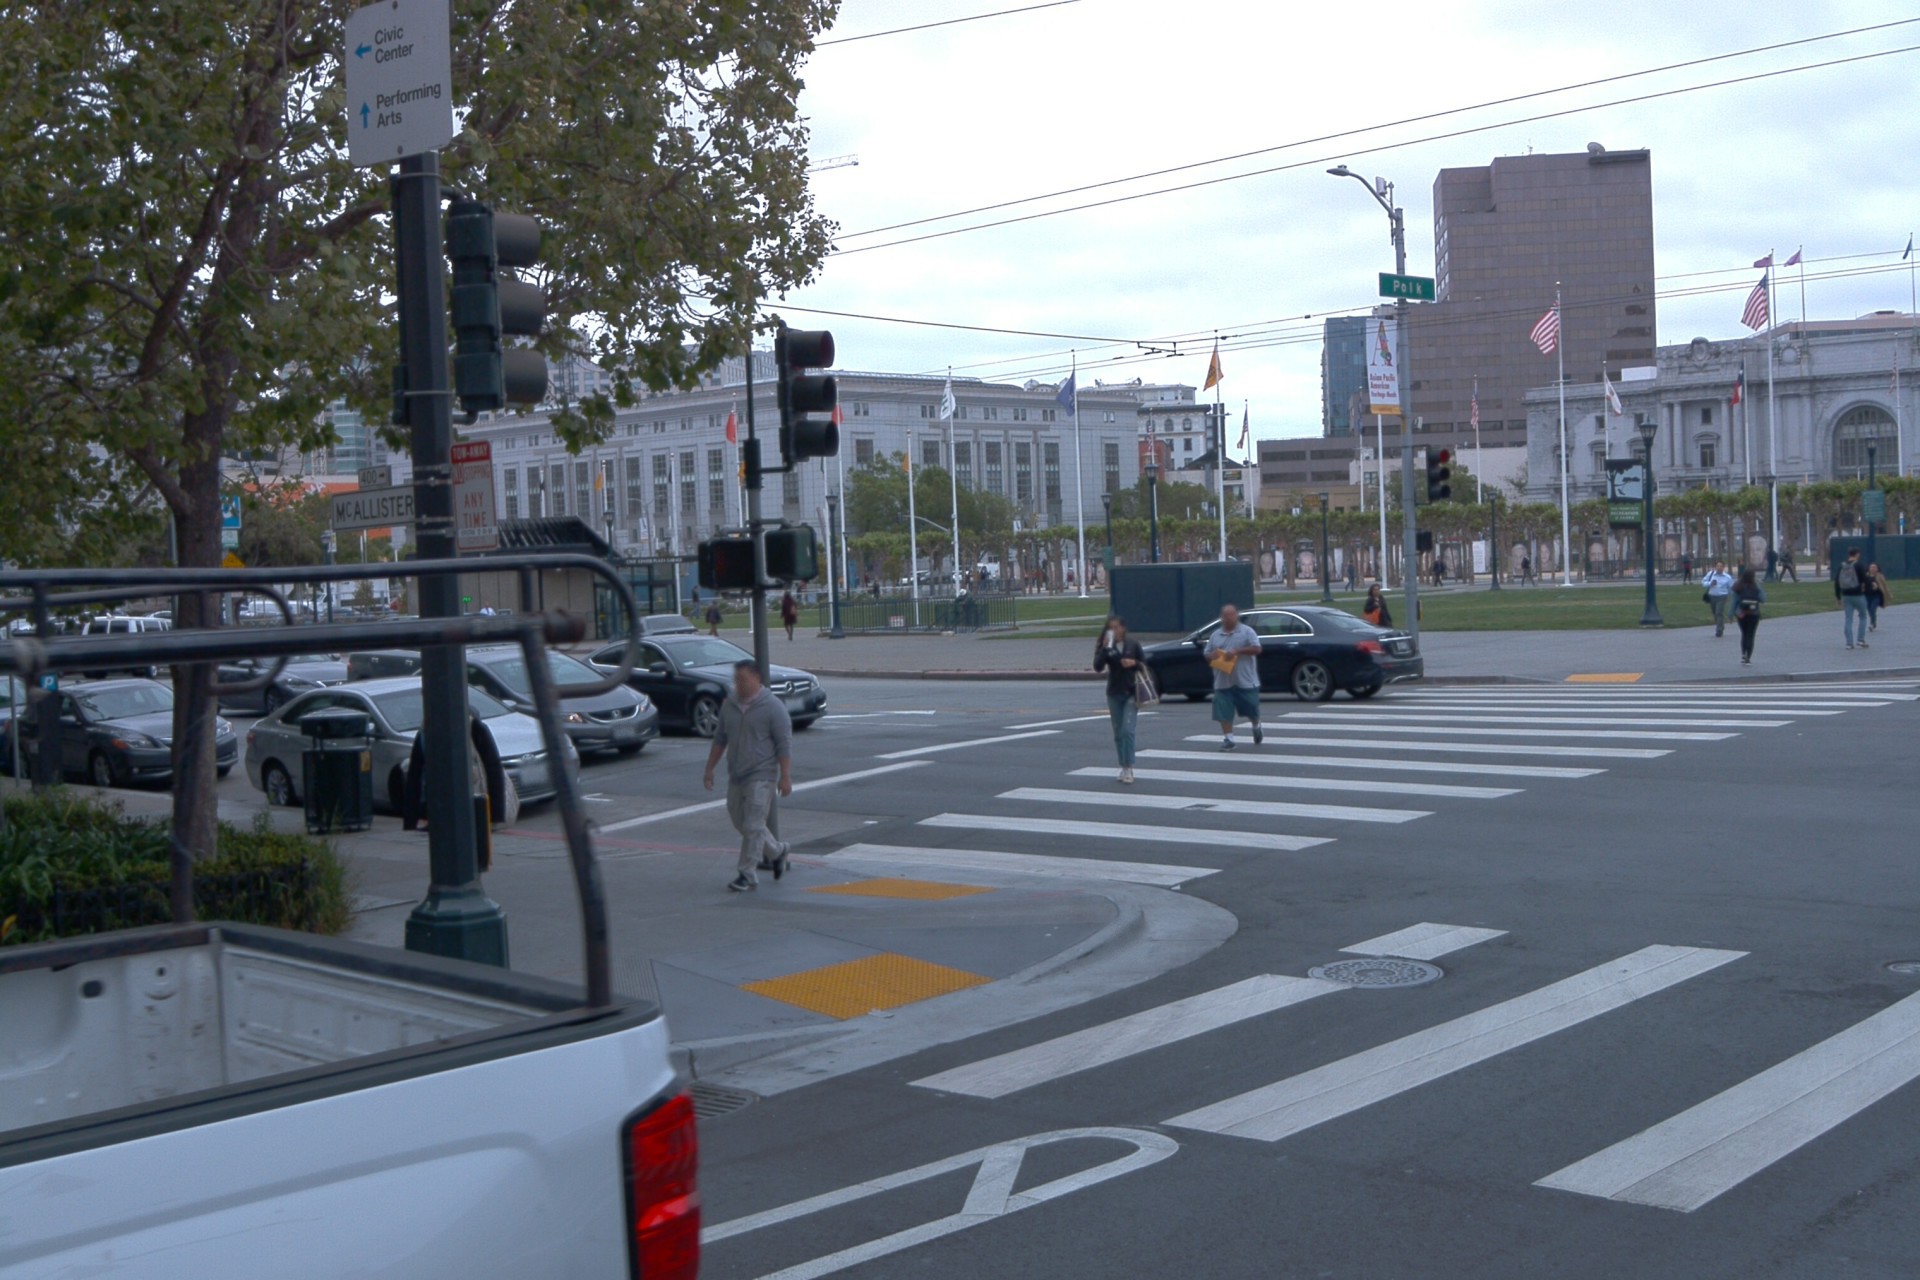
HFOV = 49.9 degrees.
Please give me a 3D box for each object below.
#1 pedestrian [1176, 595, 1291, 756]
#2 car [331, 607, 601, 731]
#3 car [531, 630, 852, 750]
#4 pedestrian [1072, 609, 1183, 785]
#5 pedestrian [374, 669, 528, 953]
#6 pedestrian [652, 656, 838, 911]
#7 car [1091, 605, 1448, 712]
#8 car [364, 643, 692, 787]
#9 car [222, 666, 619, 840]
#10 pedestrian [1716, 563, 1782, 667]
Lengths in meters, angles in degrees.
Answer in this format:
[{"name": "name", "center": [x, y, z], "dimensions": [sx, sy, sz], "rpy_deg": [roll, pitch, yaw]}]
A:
[{"name": "pedestrian", "center": [3.110, 0.378, 23.377], "dimensions": [0.994, 1.764, 1.162], "rpy_deg": [0, 1, 24]}, {"name": "car", "center": [-8.207, 0.407, 34.049], "dimensions": [4.650, 1.900, 2.138], "rpy_deg": [1, 1, 44]}, {"name": "car", "center": [-3.827, 0.638, 29.016], "dimensions": [4.497, 1.490, 2.027], "rpy_deg": [1, 1, 42]}, {"name": "pedestrian", "center": [1.704, 0.549, 20.869], "dimensions": [0.909, 1.724, 0.993], "rpy_deg": [0, 1, 18]}, {"name": "pedestrian", "center": [-3.385, 1.091, 13.678], "dimensions": [0.935, 1.754, 1.036], "rpy_deg": [0, 1, -17]}, {"name": "pedestrian", "center": [-1.558, 1.007, 15.069], "dimensions": [0.851, 1.742, 1.083], "rpy_deg": [1, 1, 33]}, {"name": "car", "center": [4.684, 0.220, 31.558], "dimensions": [4.896, 1.520, 2.283], "rpy_deg": [1, 1, 37]}, {"name": "car", "center": [-5.729, 0.906, 27.032], "dimensions": [2.084, 1.630, 4.523], "rpy_deg": [-1, 1, -44]}, {"name": "car", "center": [-6.110, 1.164, 23.049], "dimensions": [4.754, 1.590, 2.139], "rpy_deg": [1, 1, 44]}, {"name": "pedestrian", "center": [13.384, -0.435, 35.001], "dimensions": [0.789, 1.734, 0.970], "rpy_deg": [1, 1, 37]}]
